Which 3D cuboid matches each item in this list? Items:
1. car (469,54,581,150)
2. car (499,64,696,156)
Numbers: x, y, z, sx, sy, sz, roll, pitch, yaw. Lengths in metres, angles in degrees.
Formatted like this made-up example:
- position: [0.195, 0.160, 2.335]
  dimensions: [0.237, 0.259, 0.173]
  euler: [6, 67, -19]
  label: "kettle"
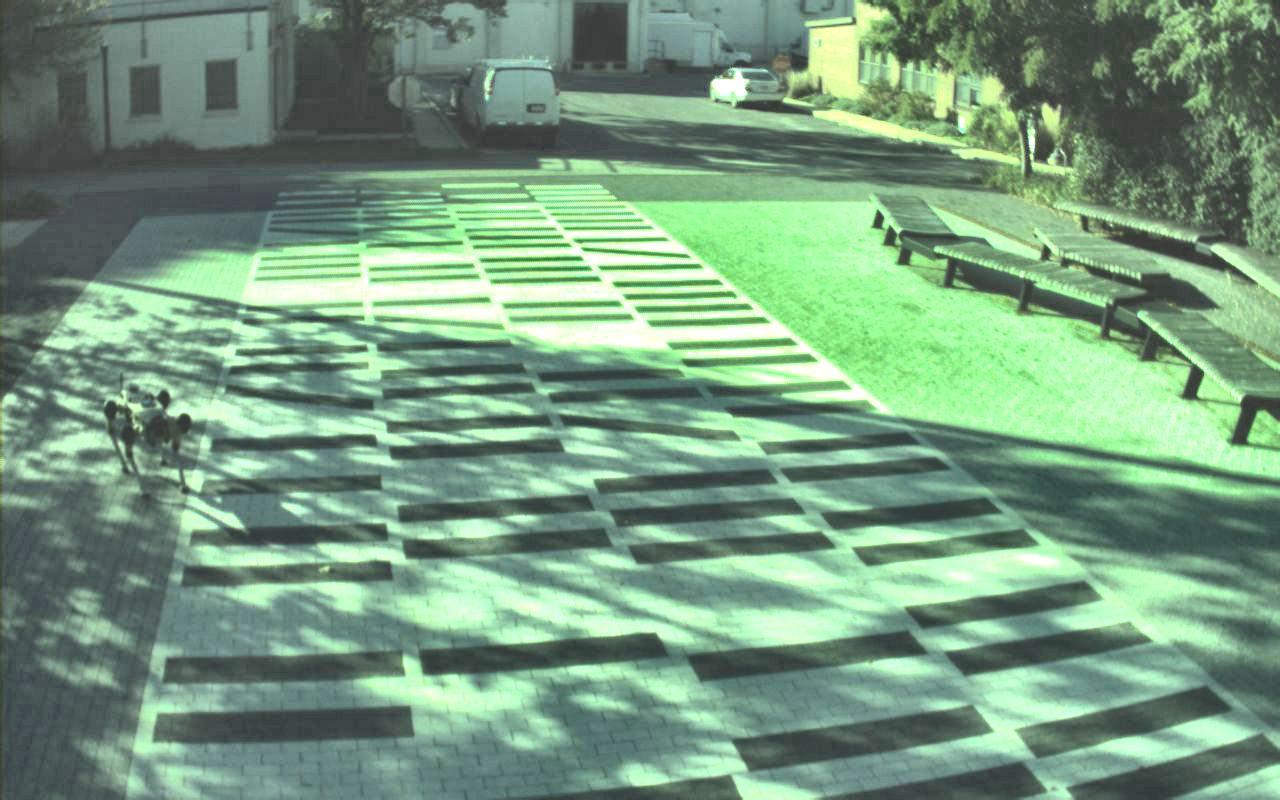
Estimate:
- position: [-3.123, -7.868, 32.316]
  dimensions: [2.282, 2.172, 5.196]
  euler: [-4, 17, -12]
  label: "car"
- position: [-0.948, -7.064, 29.949]
  dimensions: [2.049, 1.874, 4.759]
  euler: [13, 22, 40]
  label: "car"
